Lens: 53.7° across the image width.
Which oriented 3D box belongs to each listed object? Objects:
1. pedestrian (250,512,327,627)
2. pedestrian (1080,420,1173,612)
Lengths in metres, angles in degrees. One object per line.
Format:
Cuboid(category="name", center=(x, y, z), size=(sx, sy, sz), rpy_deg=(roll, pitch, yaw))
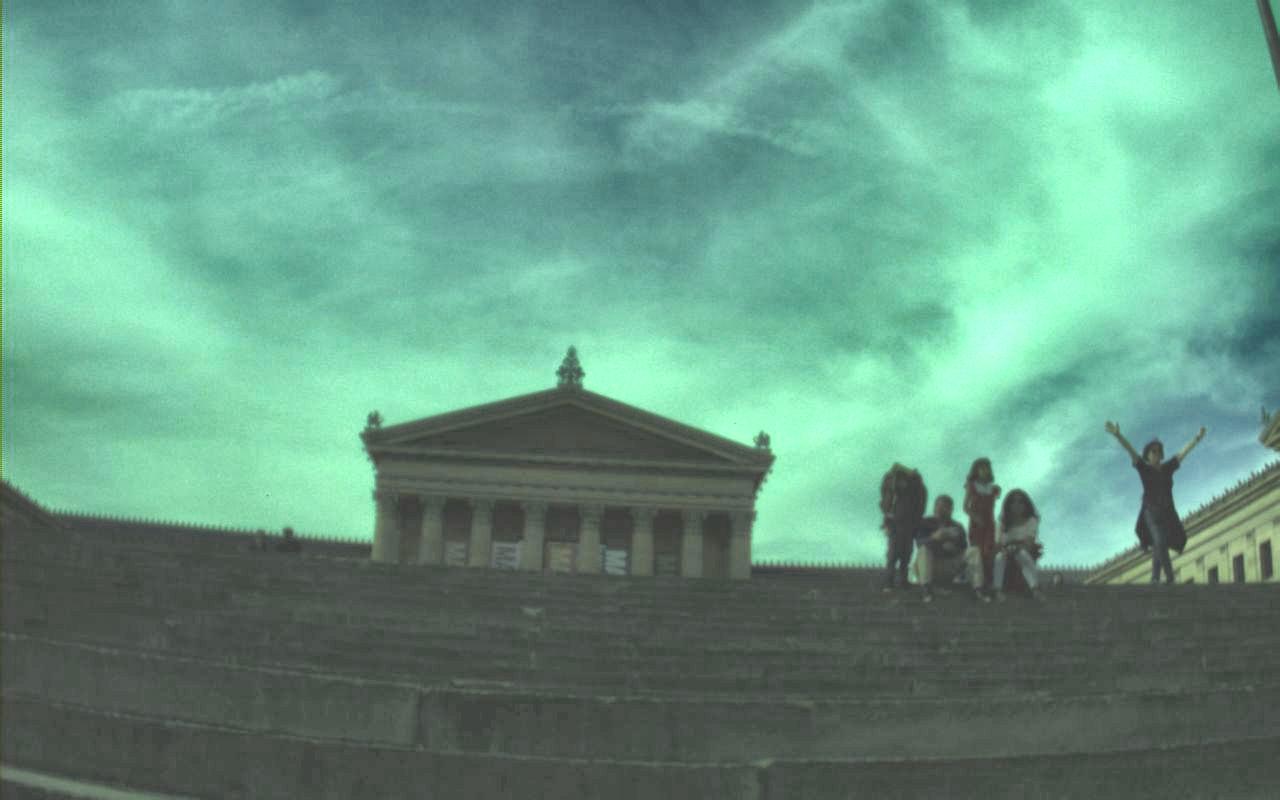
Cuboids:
Cuboid(category="pedestrian", center=(-6.035, 2.912, 20.682), size=(0.909, 1.807, 0.933), rpy_deg=(1, 0, 27))
Cuboid(category="pedestrian", center=(4.935, 1.178, 11.976), size=(0.705, 1.887, 0.694), rpy_deg=(0, 0, 1))
